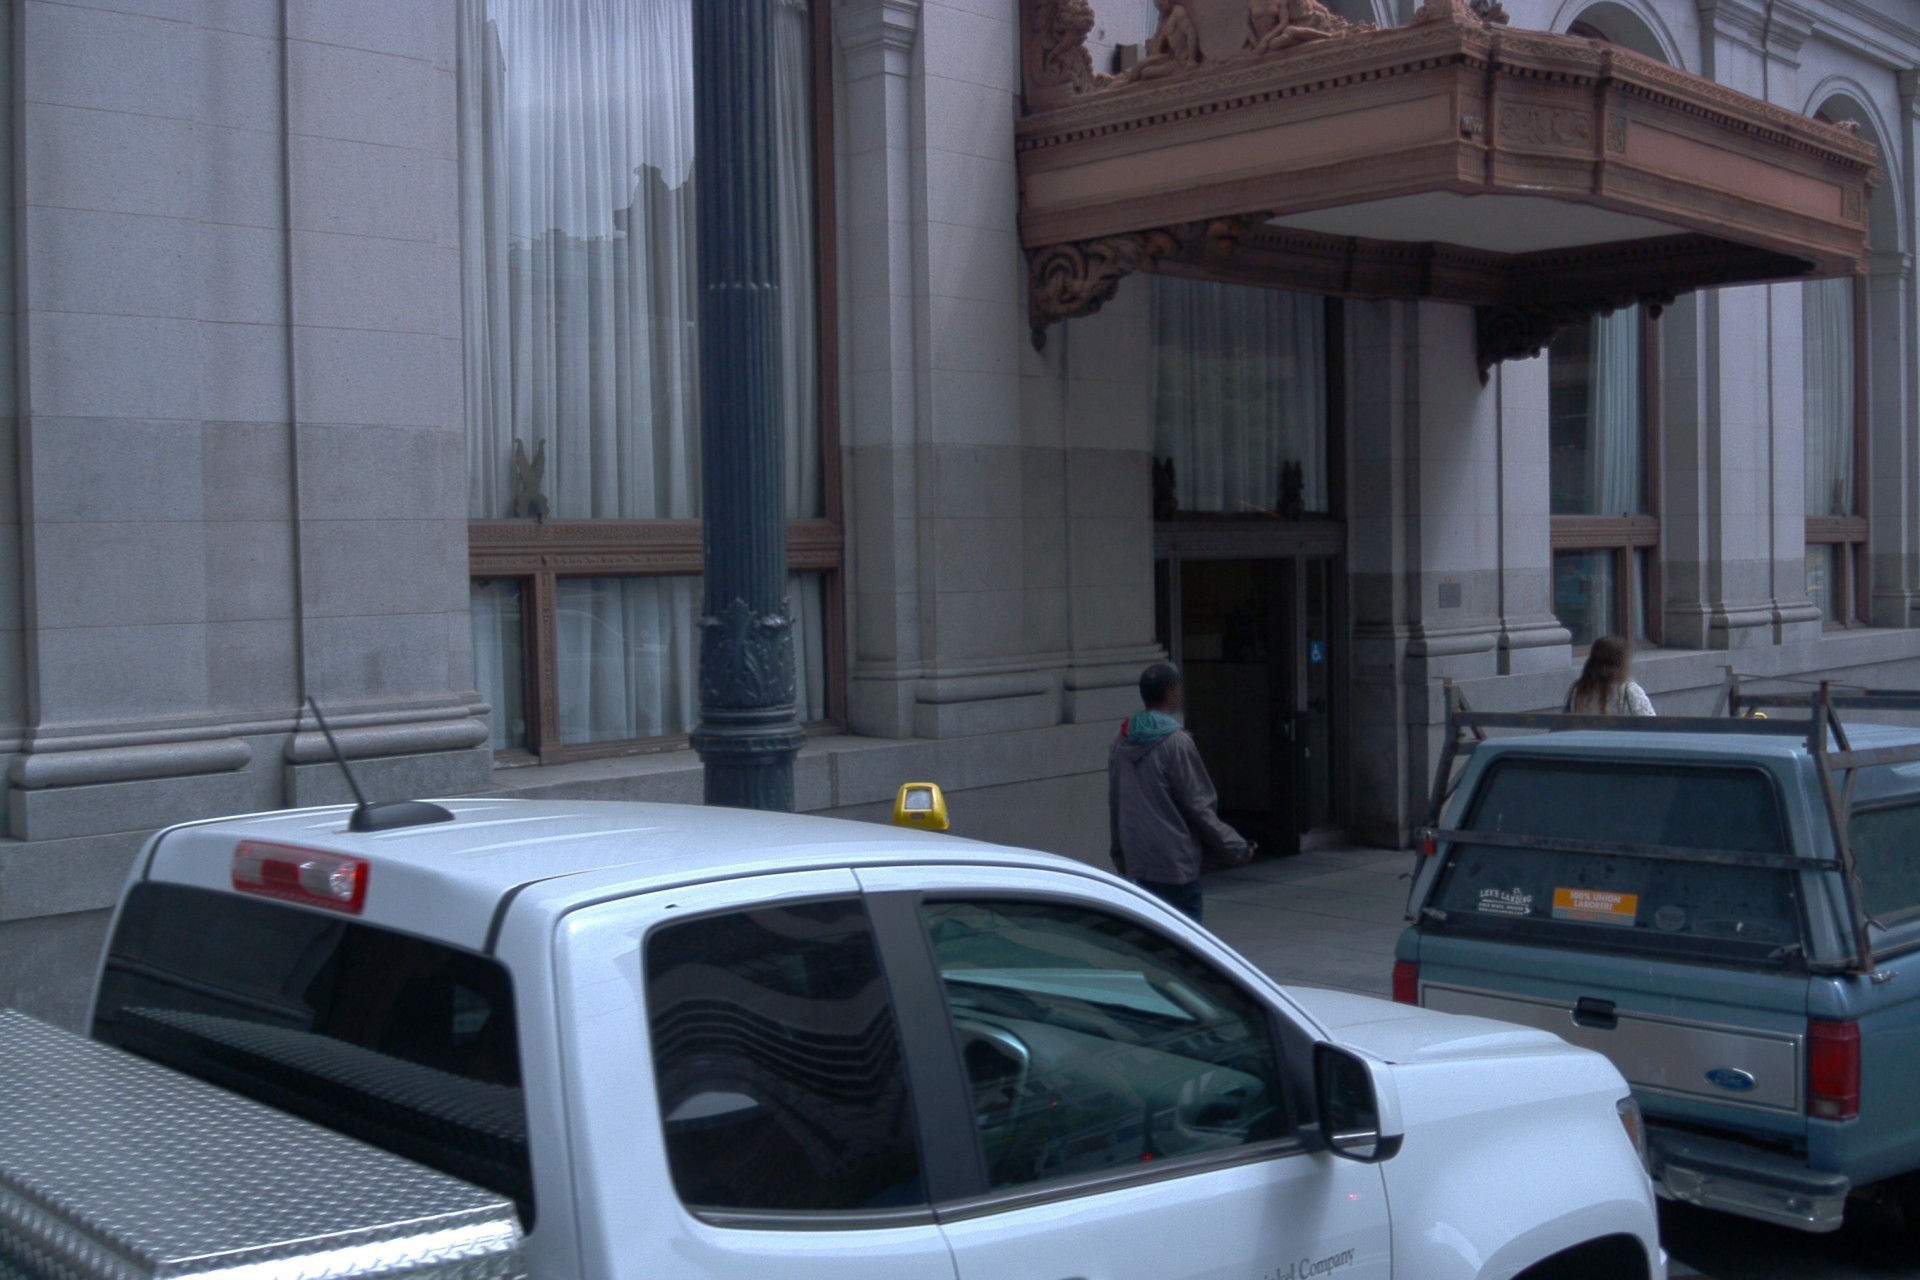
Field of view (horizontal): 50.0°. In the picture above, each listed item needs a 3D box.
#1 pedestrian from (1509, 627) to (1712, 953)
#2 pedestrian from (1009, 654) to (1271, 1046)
[{"bbox_3d":[3.826,0.834,12.096,0.811,1.820,0.903,1,1,45],"label":"pedestrian"},{"bbox_3d":[0.849,0.930,9.679,0.806,1.710,0.944,1,1,45],"label":"pedestrian"}]
